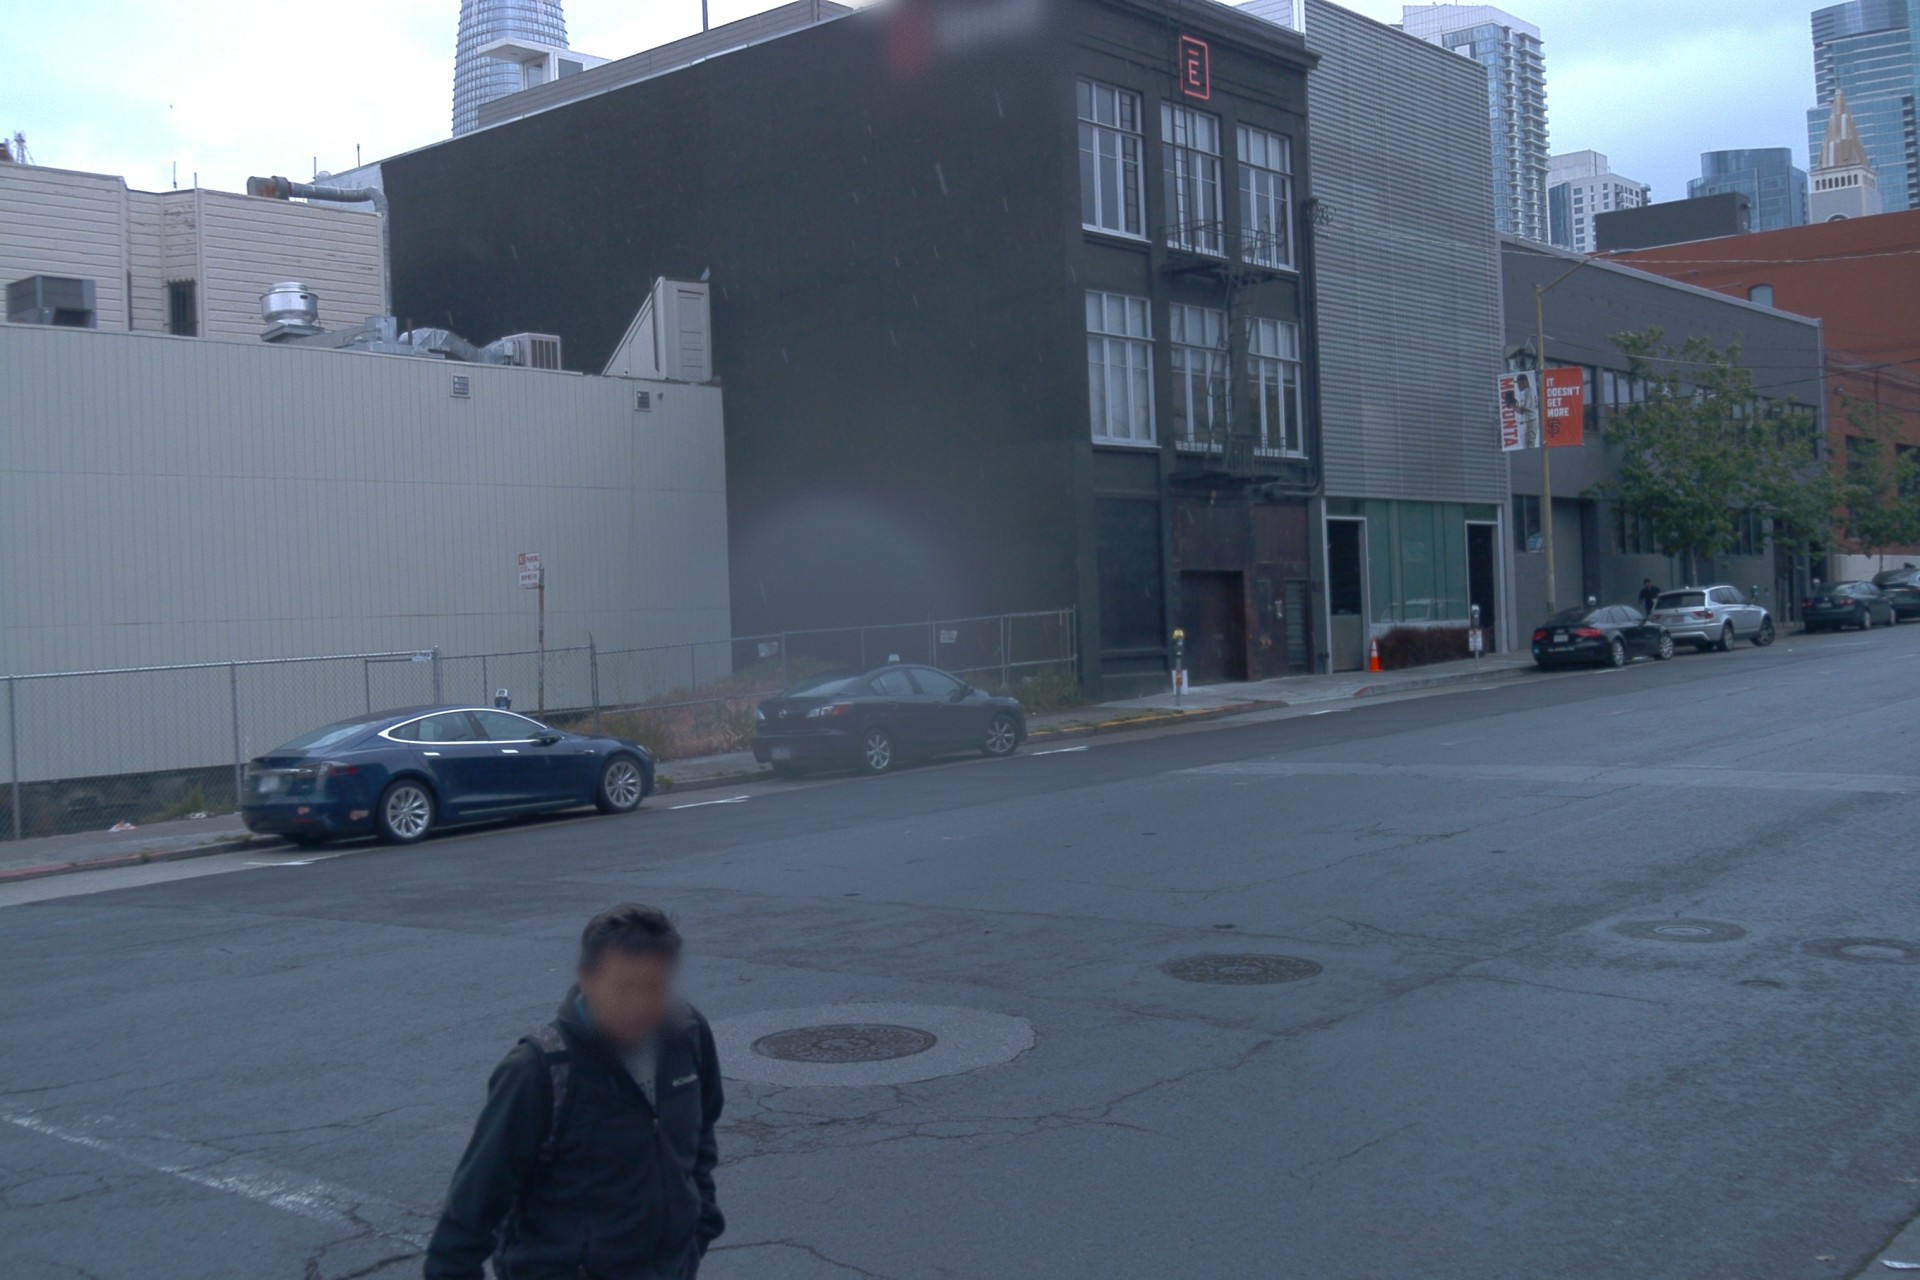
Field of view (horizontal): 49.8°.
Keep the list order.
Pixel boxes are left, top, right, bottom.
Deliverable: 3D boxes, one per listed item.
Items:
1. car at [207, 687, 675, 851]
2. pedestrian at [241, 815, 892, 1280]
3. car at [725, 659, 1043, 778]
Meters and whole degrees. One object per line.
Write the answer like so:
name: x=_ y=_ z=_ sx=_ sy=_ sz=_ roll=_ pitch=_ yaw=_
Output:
car: x=-5.604 y=1.328 z=22.901 sx=2.011 sy=1.550 sz=4.769 roll=0 pitch=-1 yaw=39
pedestrian: x=-0.794 y=1.243 z=4.169 sx=1.031 sy=1.680 sz=0.804 roll=0 pitch=-1 yaw=40
car: x=-0.966 y=1.022 z=28.494 sx=2.005 sy=1.500 sz=4.289 roll=0 pitch=-1 yaw=40
